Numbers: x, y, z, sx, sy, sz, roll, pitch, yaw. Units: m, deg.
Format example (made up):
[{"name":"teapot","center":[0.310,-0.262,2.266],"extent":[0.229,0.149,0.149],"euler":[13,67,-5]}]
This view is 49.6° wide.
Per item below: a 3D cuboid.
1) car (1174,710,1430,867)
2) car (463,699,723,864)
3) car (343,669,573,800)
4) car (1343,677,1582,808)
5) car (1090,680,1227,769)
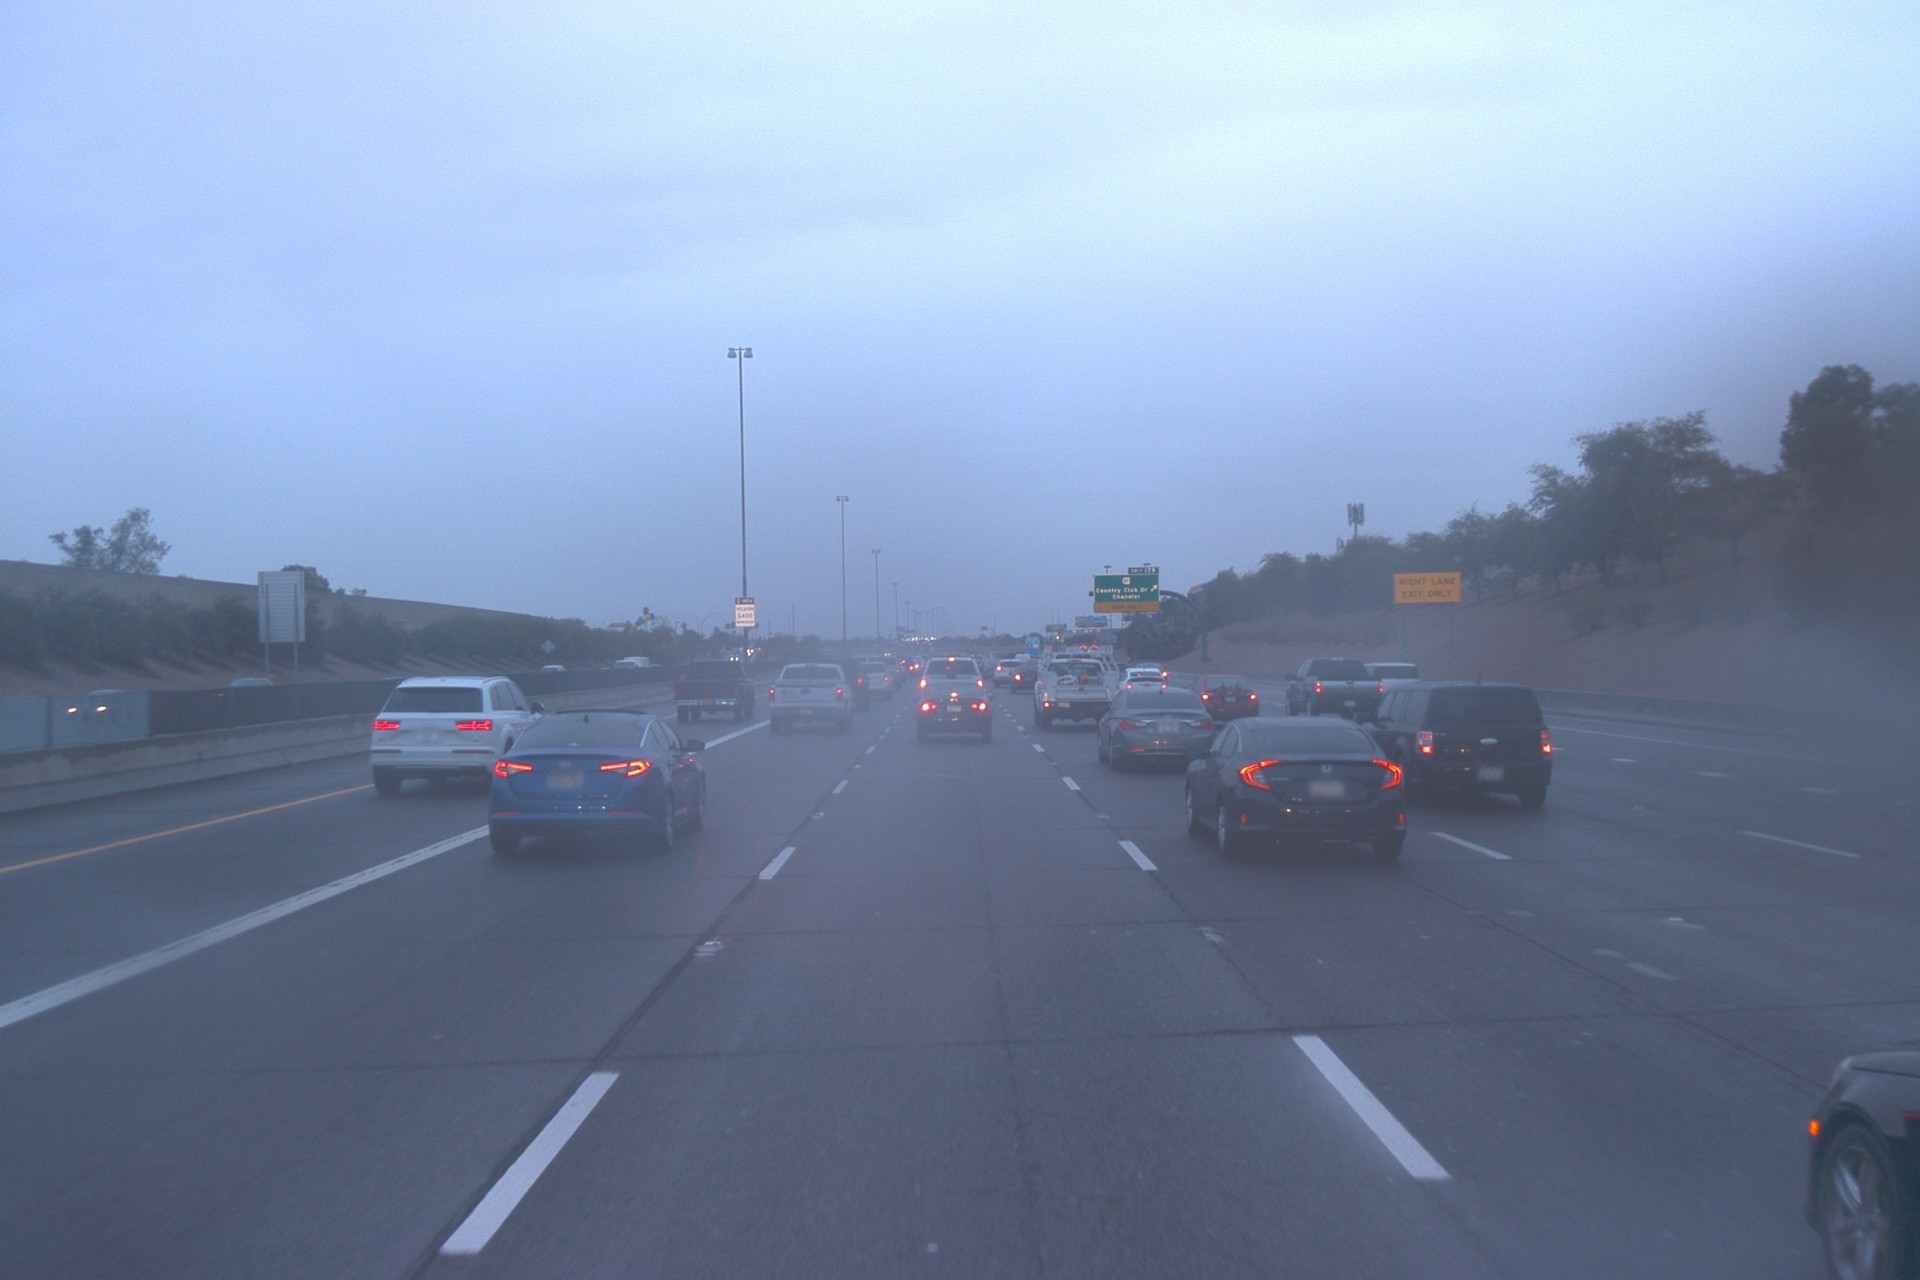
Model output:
[{"name":"car","center":[3.483,1.490,21.979],"extent":[1.973,1.380,4.335],"euler":[0,0,0]},{"name":"car","center":[-3.871,1.459,22.716],"extent":[1.988,1.510,4.517],"euler":[0,0,1]},{"name":"car","center":[-7.622,1.380,32.108],"extent":[2.303,1.810,5.259],"euler":[0,0,0]},{"name":"car","center":[6.964,1.375,29.385],"extent":[2.228,1.630,4.896],"euler":[0,0,1]},{"name":"car","center":[3.508,1.472,37.410],"extent":[2.017,1.450,4.379],"euler":[0,0,0]}]
